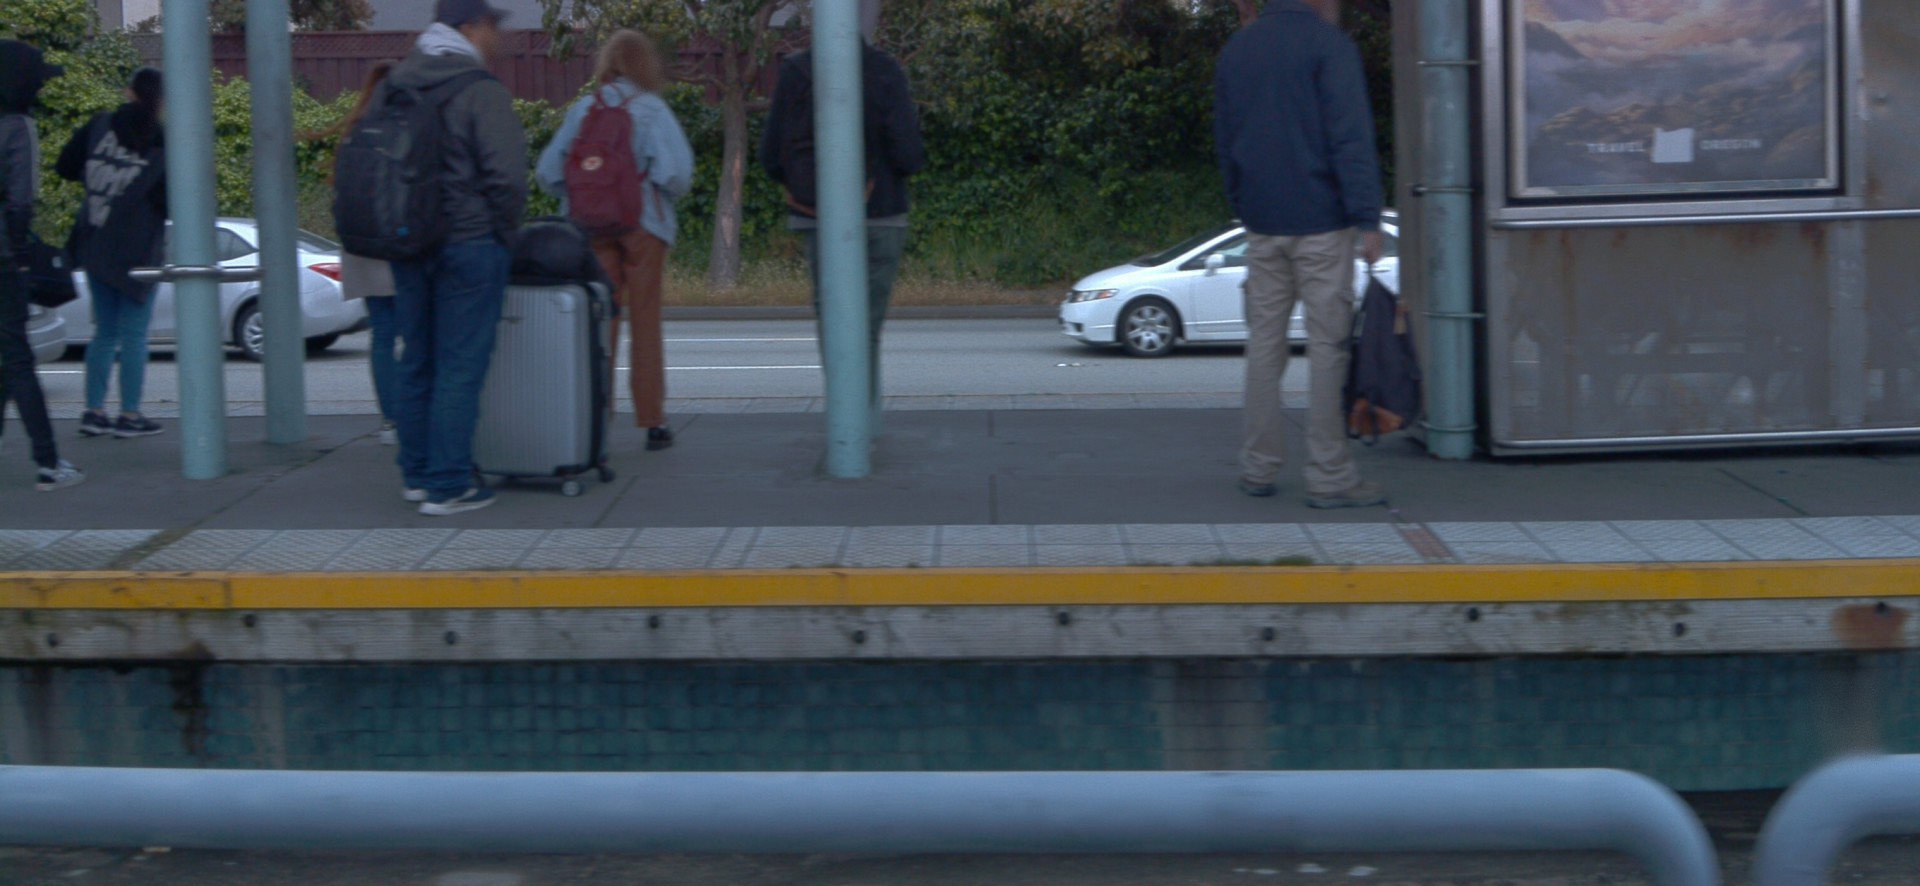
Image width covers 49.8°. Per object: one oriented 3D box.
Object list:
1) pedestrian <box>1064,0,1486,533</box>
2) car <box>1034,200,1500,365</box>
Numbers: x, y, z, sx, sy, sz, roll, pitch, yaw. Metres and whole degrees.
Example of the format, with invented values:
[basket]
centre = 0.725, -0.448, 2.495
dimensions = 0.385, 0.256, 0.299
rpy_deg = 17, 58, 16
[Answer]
[pedestrian]
centre = 1.001, -0.733, 6.596
dimensions = 1.028, 1.836, 0.837
rpy_deg = 2, 3, 44
[car]
centre = 3.001, -1.653, 20.900
dimensions = 4.442, 1.555, 1.865
rpy_deg = 0, 4, 1
